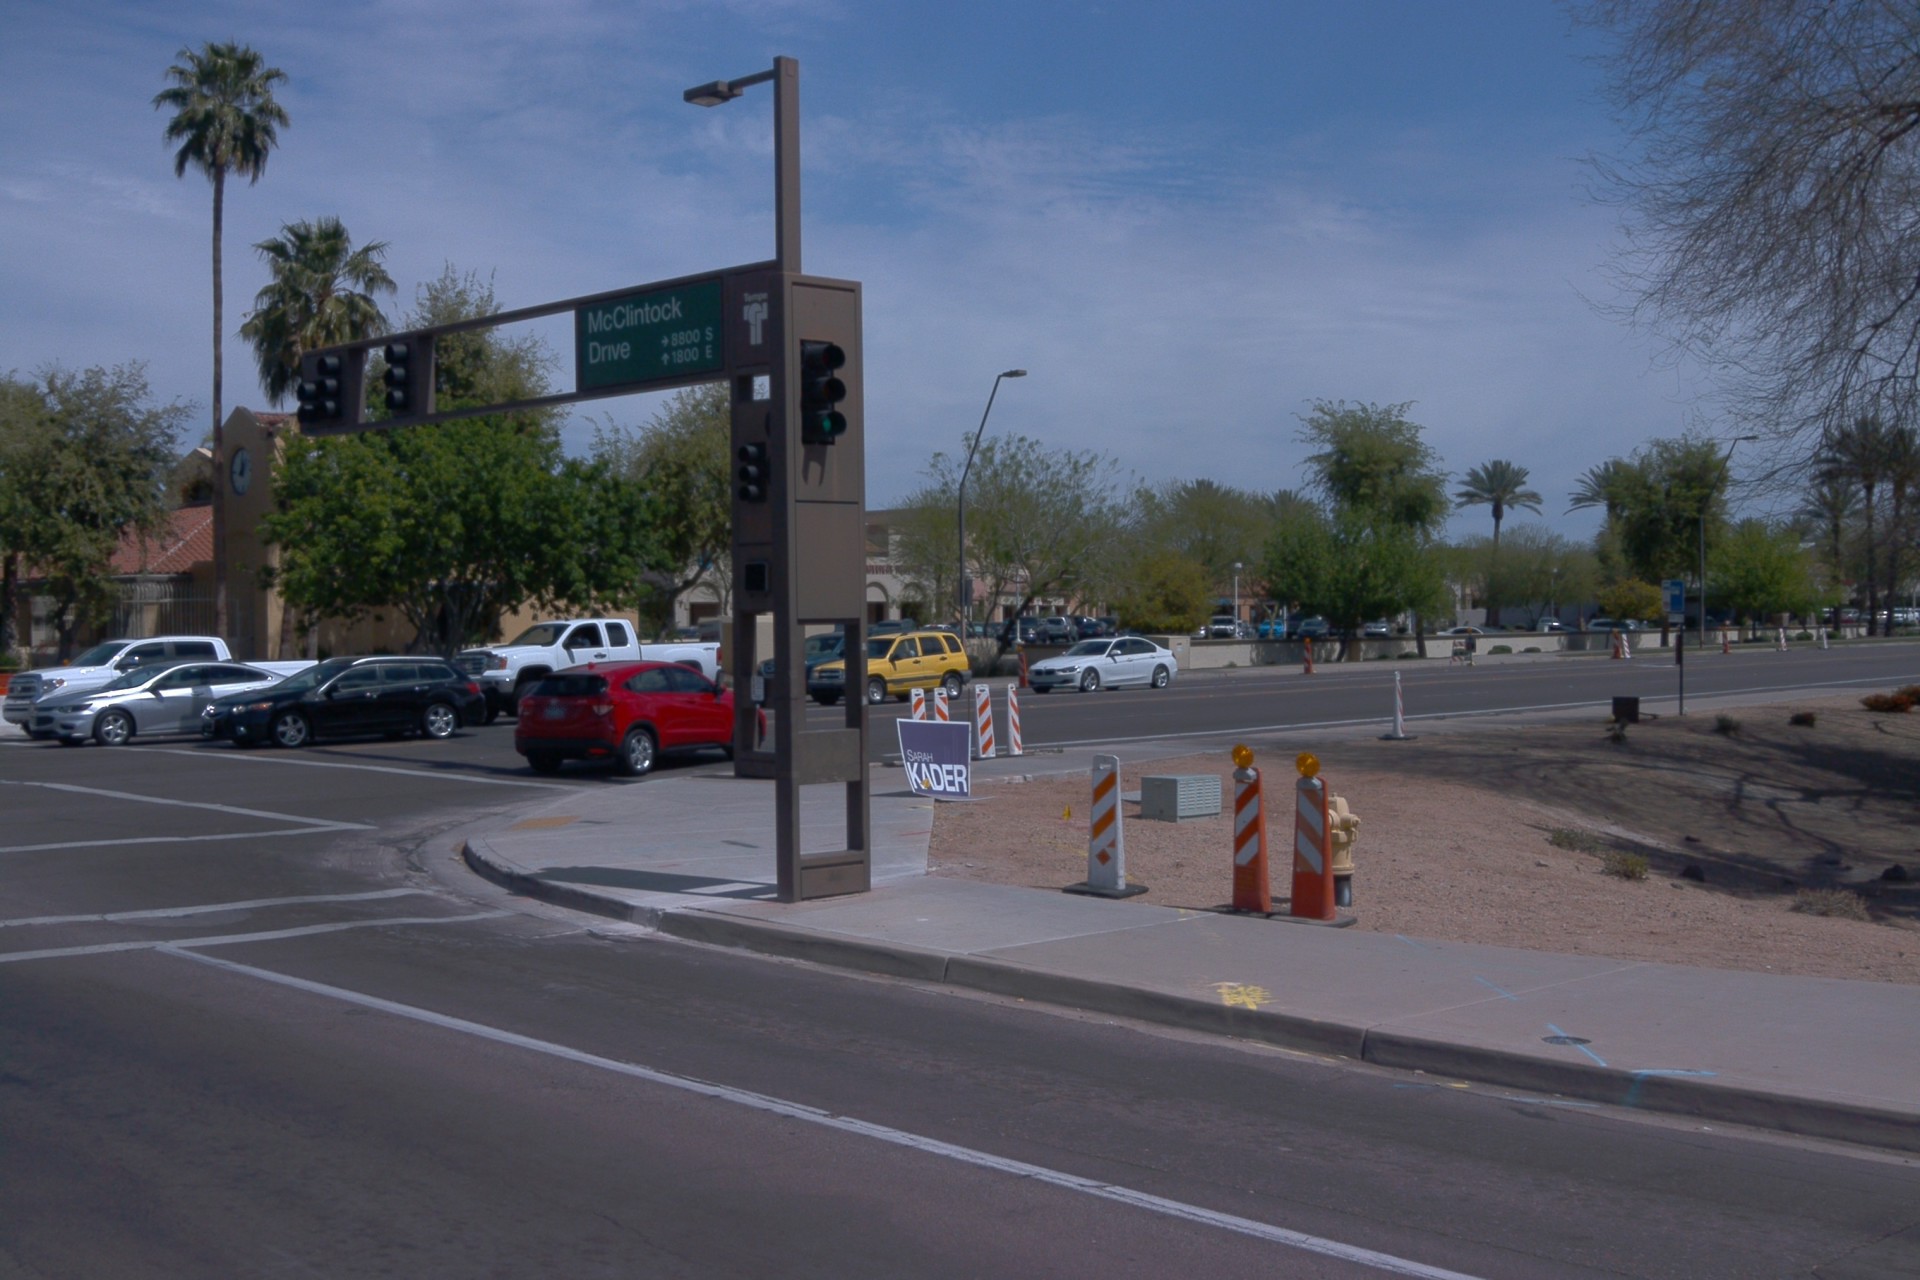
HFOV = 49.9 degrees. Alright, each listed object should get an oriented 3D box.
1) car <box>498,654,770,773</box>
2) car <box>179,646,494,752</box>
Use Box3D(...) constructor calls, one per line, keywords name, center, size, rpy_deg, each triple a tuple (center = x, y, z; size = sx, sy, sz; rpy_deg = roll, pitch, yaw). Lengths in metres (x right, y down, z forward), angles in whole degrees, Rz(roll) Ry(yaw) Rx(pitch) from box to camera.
Box3D(name="car", center=(-4.698, 1.014, 30.282), size=(1.908, 1.610, 4.025), rpy_deg=(0, 0, 28))
Box3D(name="car", center=(-10.634, 0.964, 35.431), size=(4.697, 1.700, 2.155), rpy_deg=(0, 0, -43))
